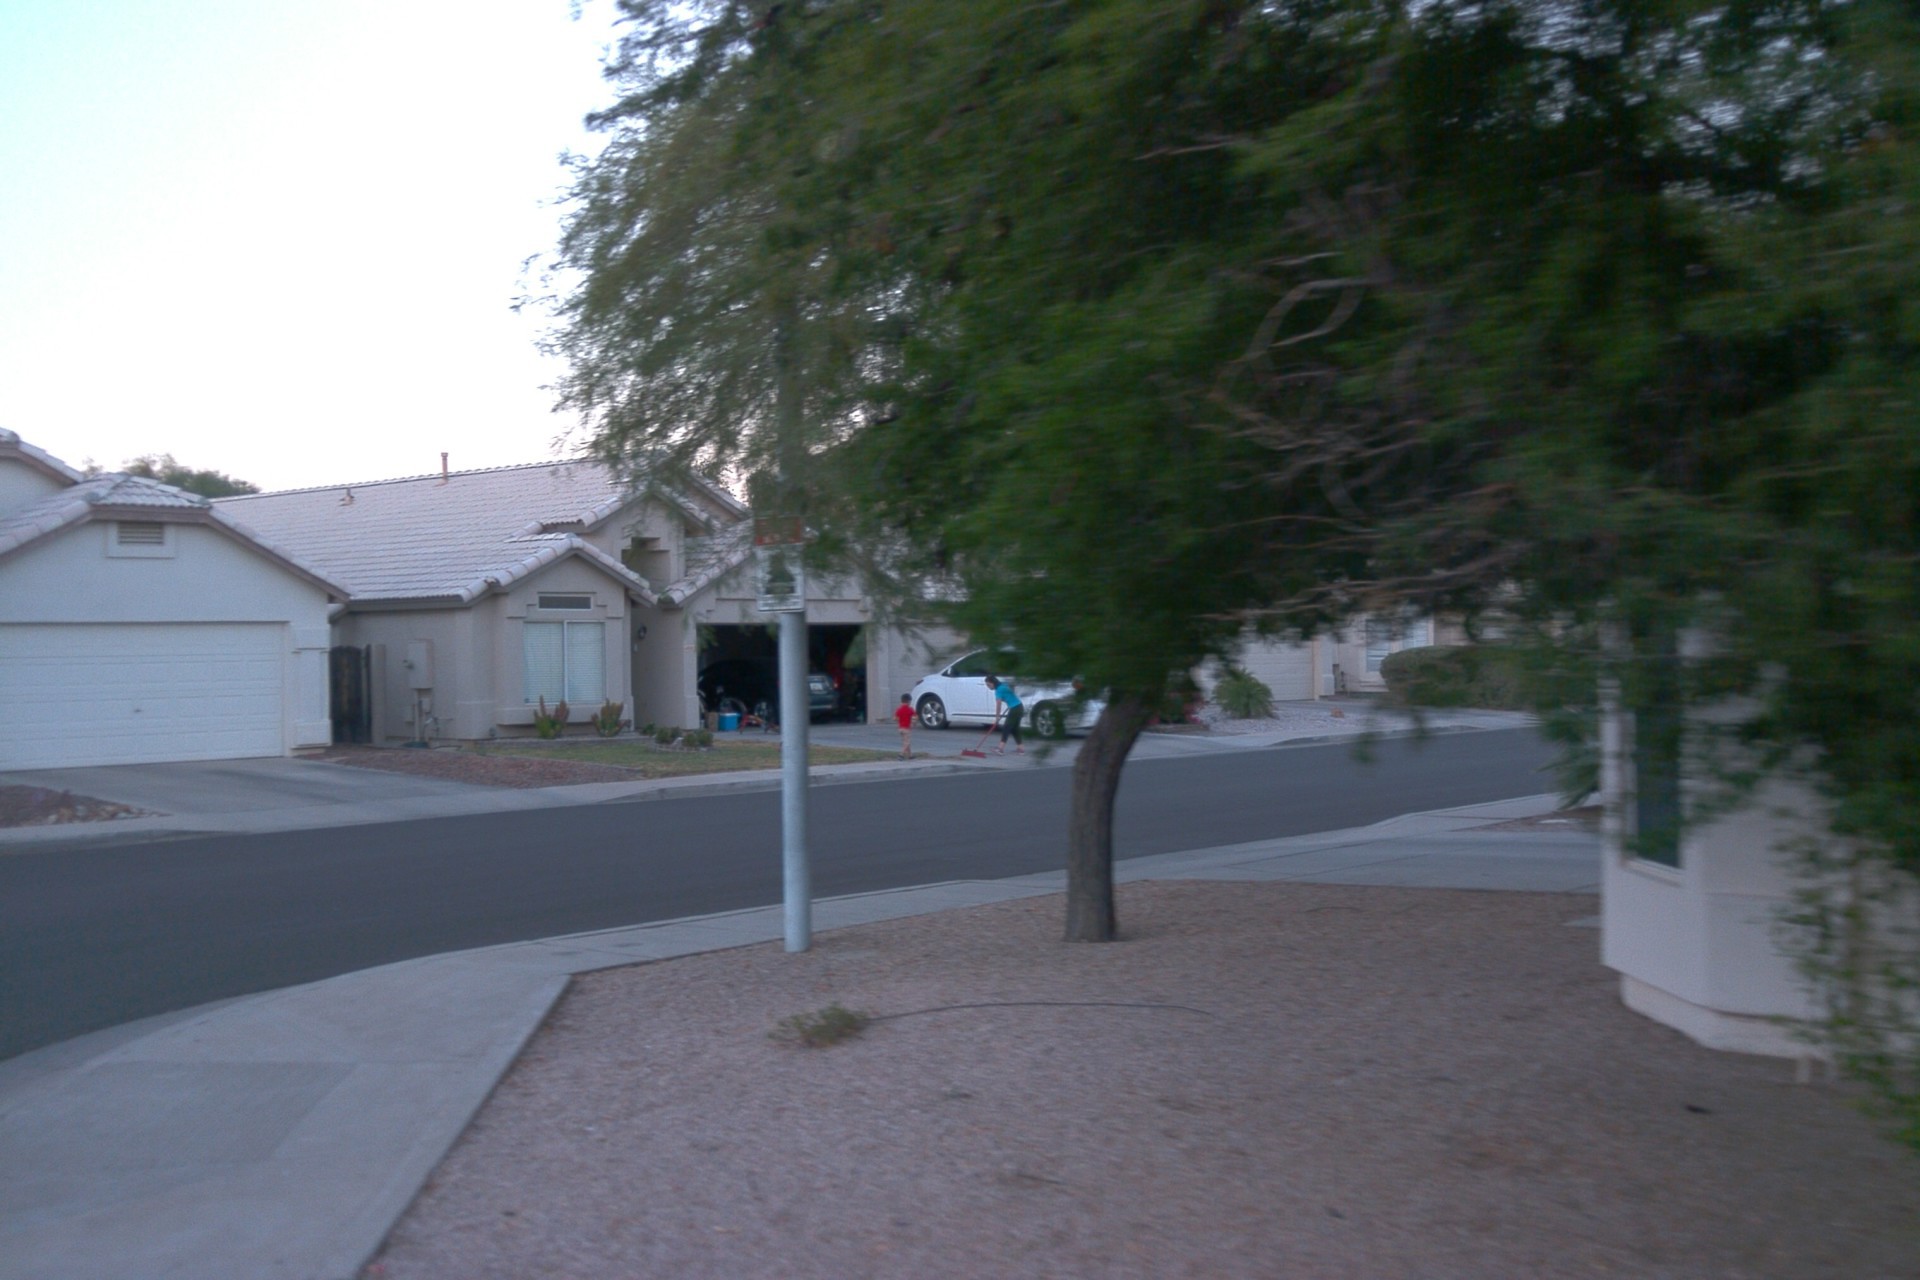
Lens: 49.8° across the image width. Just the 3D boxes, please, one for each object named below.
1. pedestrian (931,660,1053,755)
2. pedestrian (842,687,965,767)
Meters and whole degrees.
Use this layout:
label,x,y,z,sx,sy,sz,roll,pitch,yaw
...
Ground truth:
label,x,y,z,sx,sy,sz,roll,pitch,yaw
pedestrian,0.554,1.137,35.299,1.529,1.570,1.664,0,-1,26
pedestrian,-0.915,1.397,33.645,1.539,1.240,1.352,0,-1,28
